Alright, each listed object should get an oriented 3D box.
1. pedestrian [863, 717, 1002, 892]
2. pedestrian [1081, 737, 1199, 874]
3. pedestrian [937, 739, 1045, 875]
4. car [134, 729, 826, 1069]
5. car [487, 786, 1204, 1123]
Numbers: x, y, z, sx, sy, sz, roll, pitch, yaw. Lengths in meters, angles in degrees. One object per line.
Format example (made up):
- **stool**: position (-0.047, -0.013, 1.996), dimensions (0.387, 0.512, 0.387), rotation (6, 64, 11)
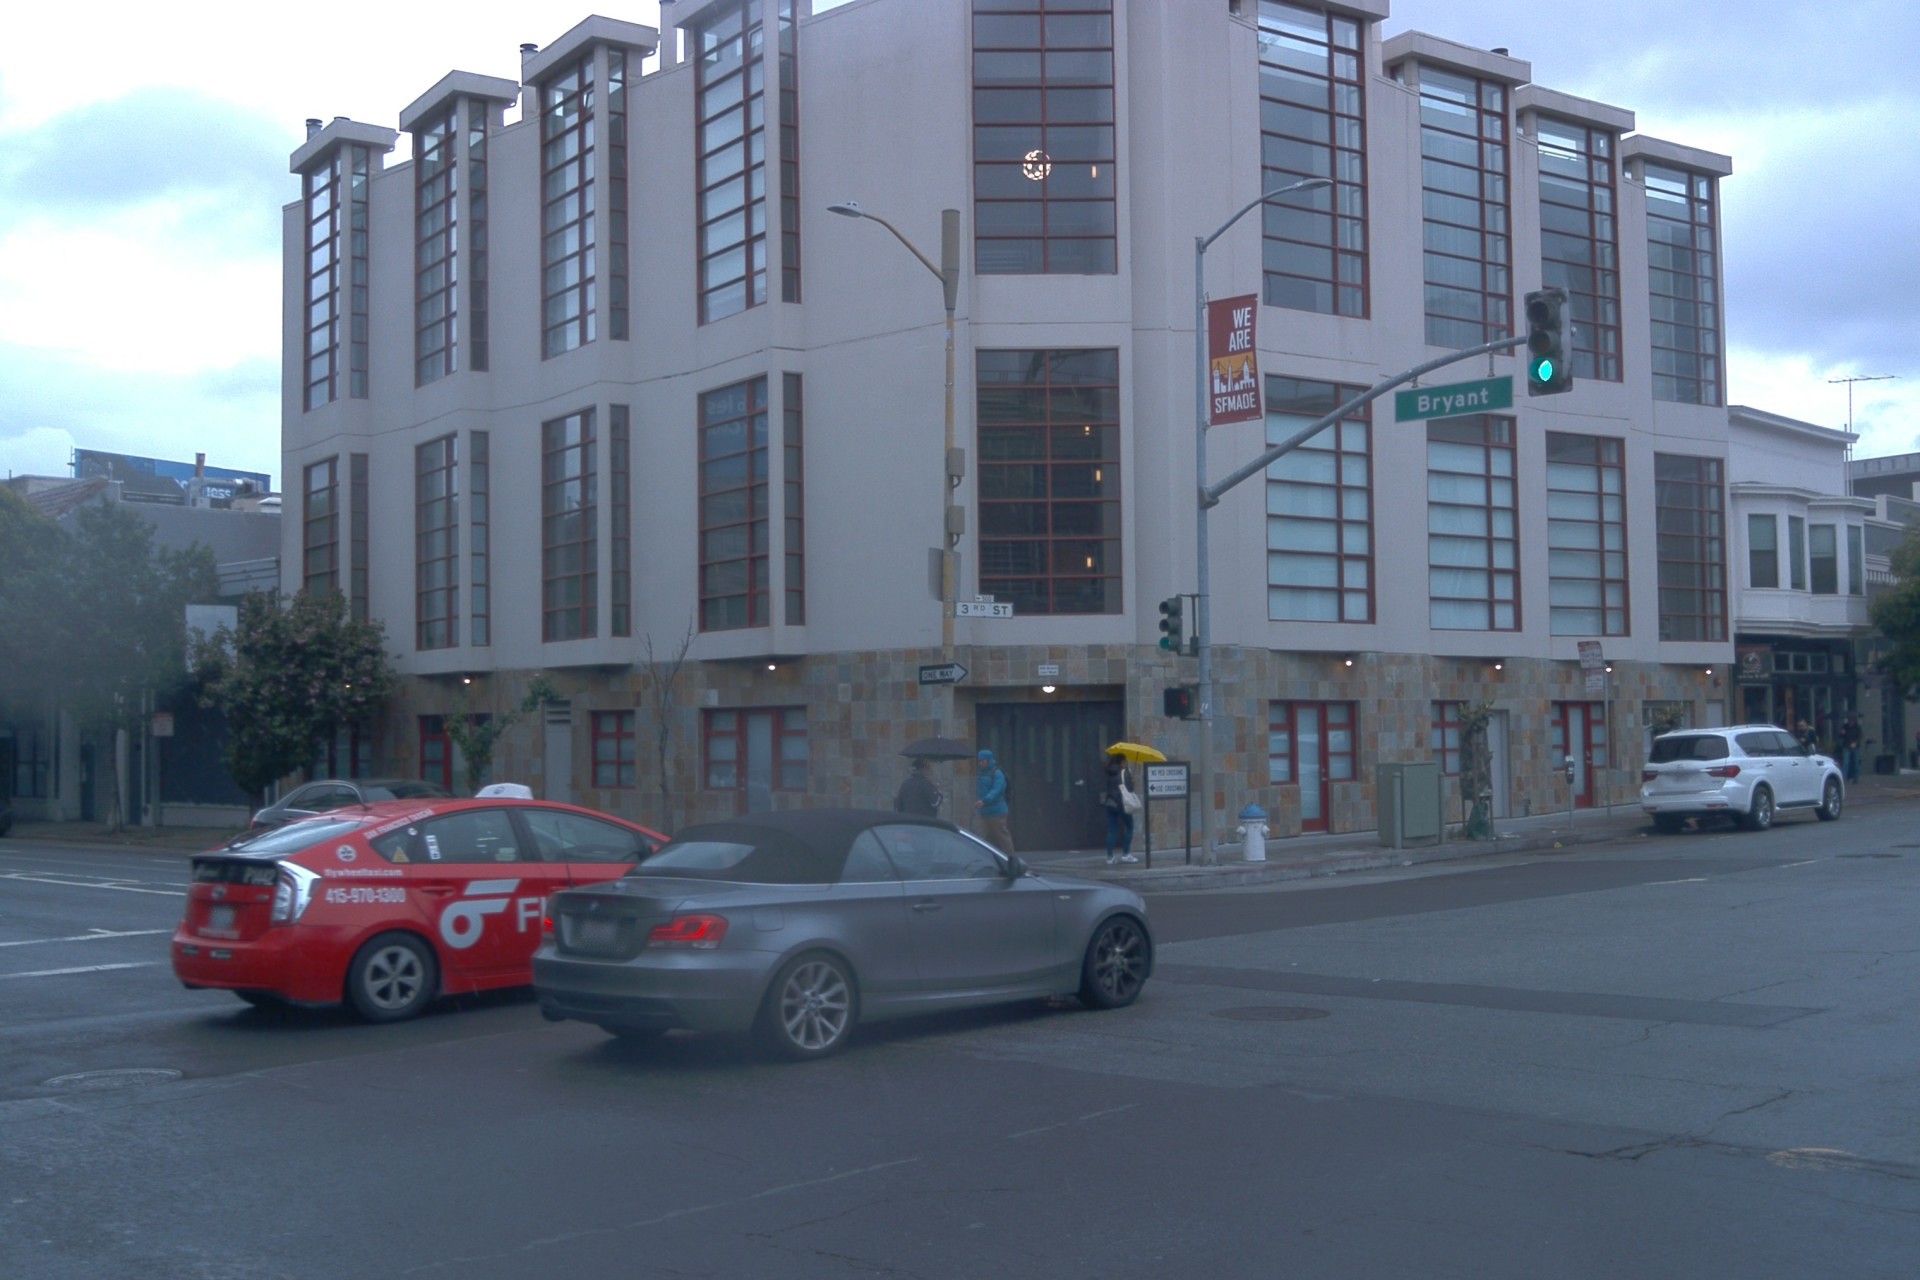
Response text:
- **pedestrian**: position (-0.346, 2.079, 26.747), dimensions (1.228, 2.110, 1.341), rotation (0, 0, 36)
- **pedestrian**: position (2.636, 2.392, 30.402), dimensions (1.137, 1.860, 1.361), rotation (0, 0, 39)
- **pedestrian**: position (0.447, 2.354, 29.591), dimensions (1.235, 1.810, 0.924), rotation (0, 0, -41)
- **car**: position (-3.373, 1.714, 15.320), dimensions (2.056, 1.920, 4.590), rotation (0, 0, 43)
- **car**: position (-0.564, 1.820, 13.255), dimensions (1.937, 1.460, 4.452), rotation (0, 0, 43)
